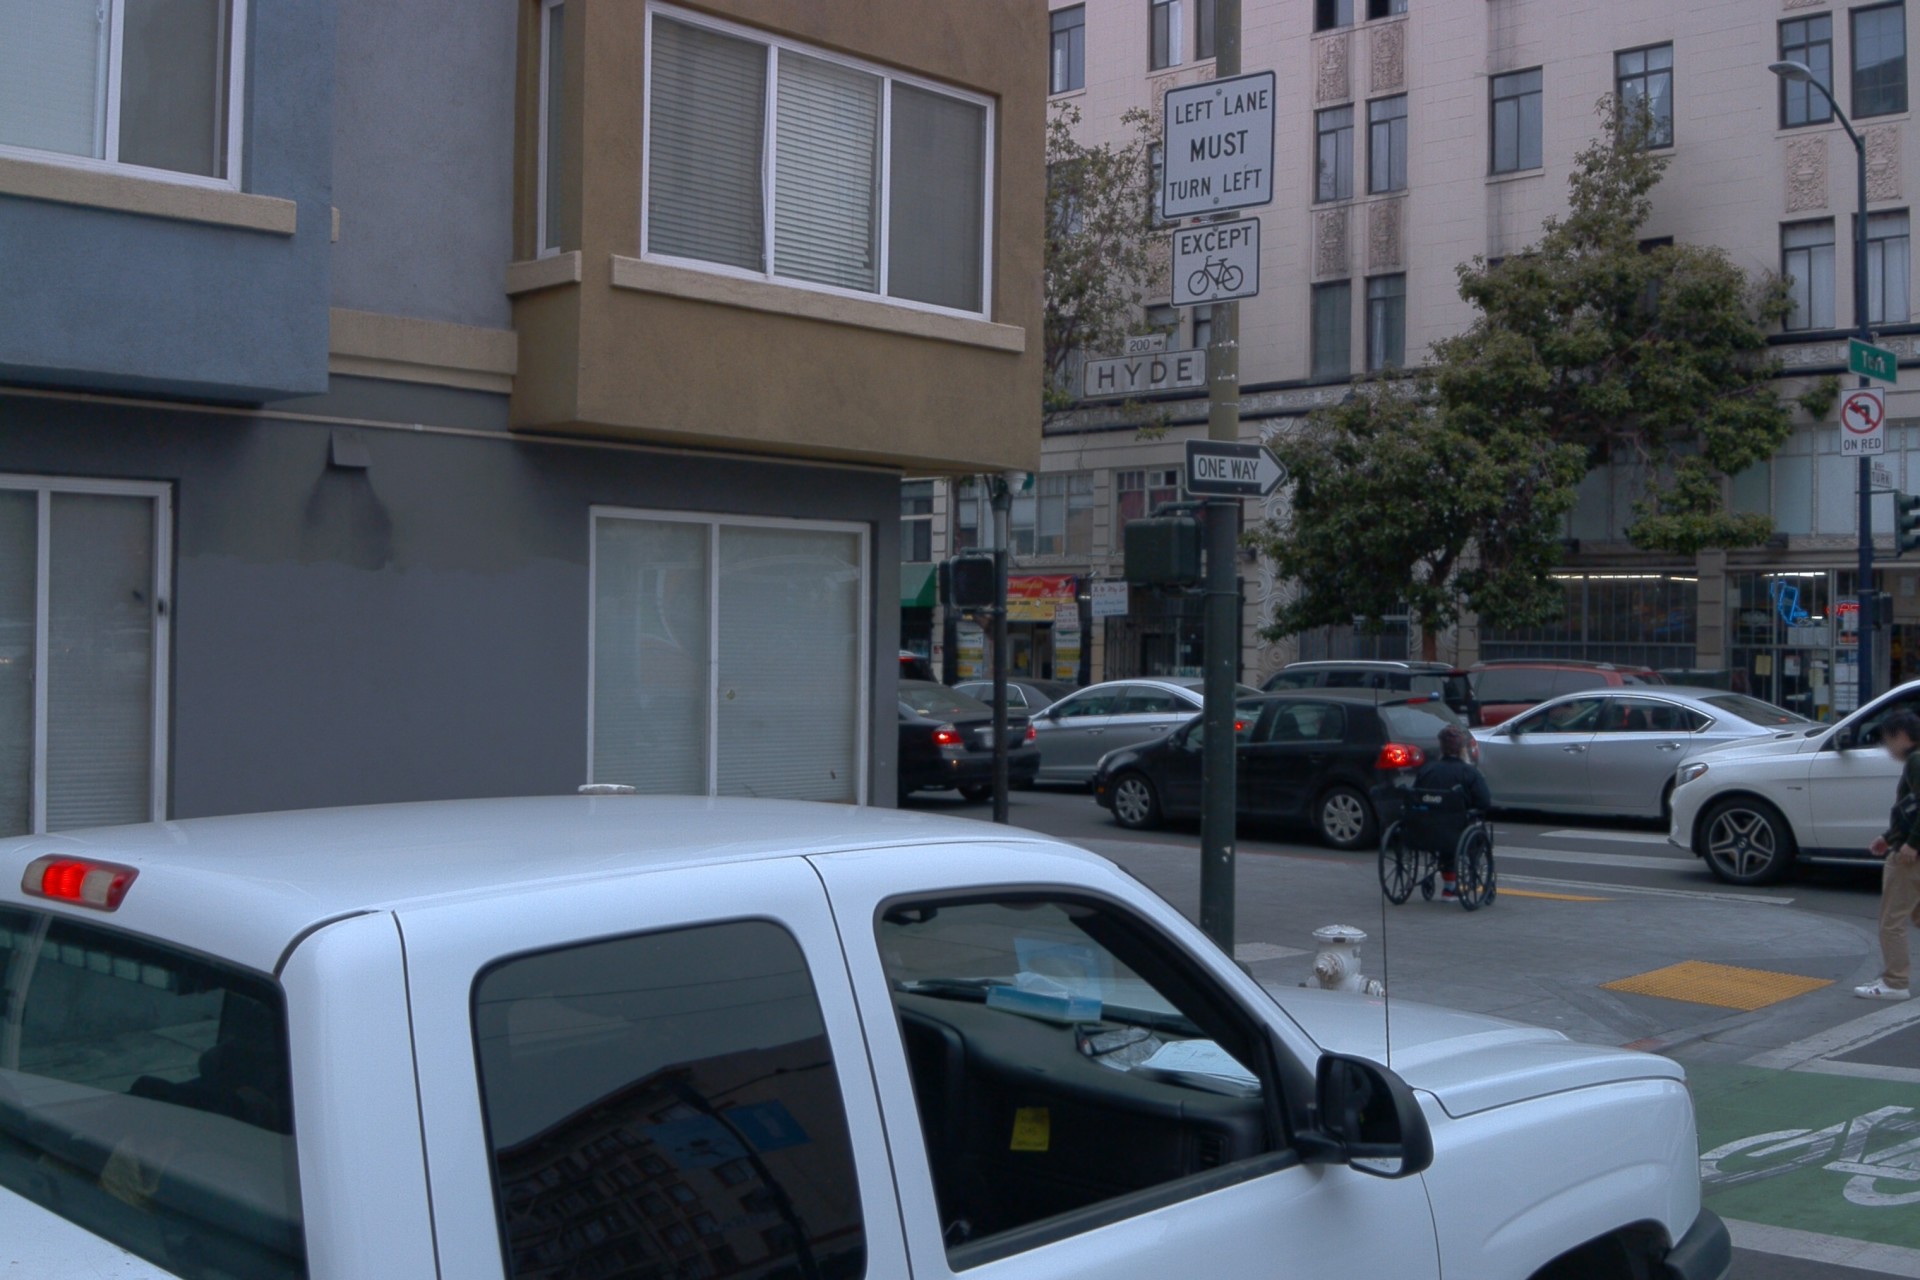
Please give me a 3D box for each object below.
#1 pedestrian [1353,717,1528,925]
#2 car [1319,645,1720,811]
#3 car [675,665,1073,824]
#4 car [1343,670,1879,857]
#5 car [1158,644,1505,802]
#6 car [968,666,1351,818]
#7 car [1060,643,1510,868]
[{"bbox_3d":[3.503,1.284,15.017,0.883,1.370,1.026,1,1,38],"label":"pedestrian"},{"bbox_3d":[7.595,1.106,28.469,2.090,1.980,5.057,-1,1,-40],"label":"car"},{"bbox_3d":[-1.135,1.182,25.081,4.803,1.600,2.070,1,1,43],"label":"car"},{"bbox_3d":[6.621,1.170,21.418,2.056,1.550,4.909,-1,1,-45],"label":"car"},{"bbox_3d":[4.910,1.033,27.668,4.231,1.870,1.925,1,1,45],"label":"car"},{"bbox_3d":[2.406,1.193,25.853,1.939,1.600,4.599,-1,1,-44],"label":"car"},{"bbox_3d":[3.193,1.052,20.872,1.871,1.950,4.194,-1,1,-45],"label":"car"}]
